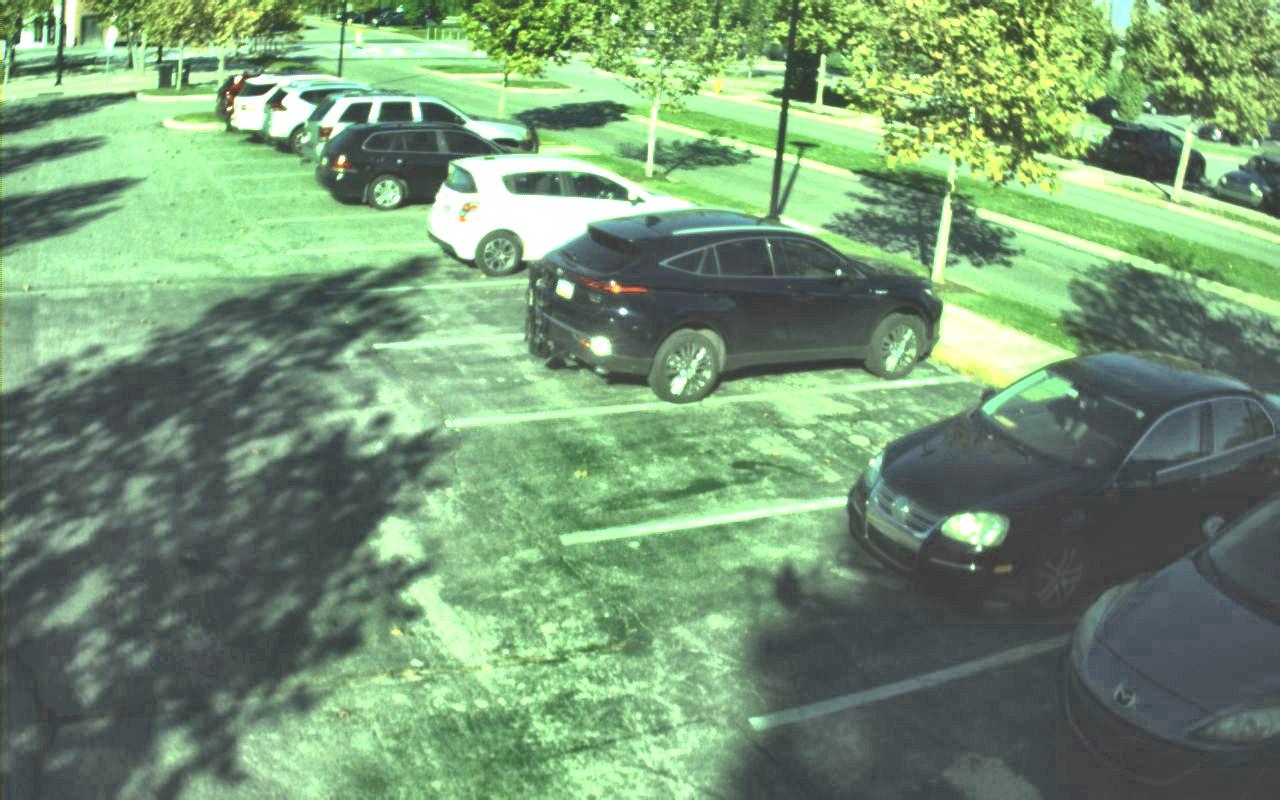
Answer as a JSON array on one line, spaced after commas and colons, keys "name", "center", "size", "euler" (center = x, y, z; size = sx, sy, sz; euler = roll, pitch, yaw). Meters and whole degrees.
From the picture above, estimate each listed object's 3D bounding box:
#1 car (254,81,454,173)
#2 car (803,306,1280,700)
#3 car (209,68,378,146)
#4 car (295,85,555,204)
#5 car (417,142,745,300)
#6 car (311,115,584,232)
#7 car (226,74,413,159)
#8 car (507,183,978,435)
[{"name": "car", "center": [-6.848, -6.516, 28.847], "size": [4.517, 1.726, 1.973], "euler": [-9, 18, -25]}, {"name": "car", "center": [3.692, 0.520, 8.924], "size": [4.607, 1.632, 2.014], "euler": [-8, 18, -22]}, {"name": "car", "center": [-9.704, -8.168, 33.335], "size": [4.508, 1.714, 1.991], "euler": [-10, 18, -28]}, {"name": "car", "center": [-4.346, -5.176, 24.593], "size": [4.863, 1.884, 2.074], "euler": [-9, 18, -24]}, {"name": "car", "center": [-0.845, -2.668, 18.002], "size": [4.314, 1.659, 1.919], "euler": [-9, 18, -25]}, {"name": "car", "center": [-3.511, -4.151, 22.311], "size": [4.582, 1.574, 1.957], "euler": [-9, 18, -25]}, {"name": "car", "center": [-8.263, -7.275, 30.870], "size": [4.559, 1.707, 1.994], "euler": [-9, 18, -26]}, {"name": "car", "center": [1.169, -1.138, 13.156], "size": [4.639, 1.752, 1.995], "euler": [-10, 19, -28]}]
